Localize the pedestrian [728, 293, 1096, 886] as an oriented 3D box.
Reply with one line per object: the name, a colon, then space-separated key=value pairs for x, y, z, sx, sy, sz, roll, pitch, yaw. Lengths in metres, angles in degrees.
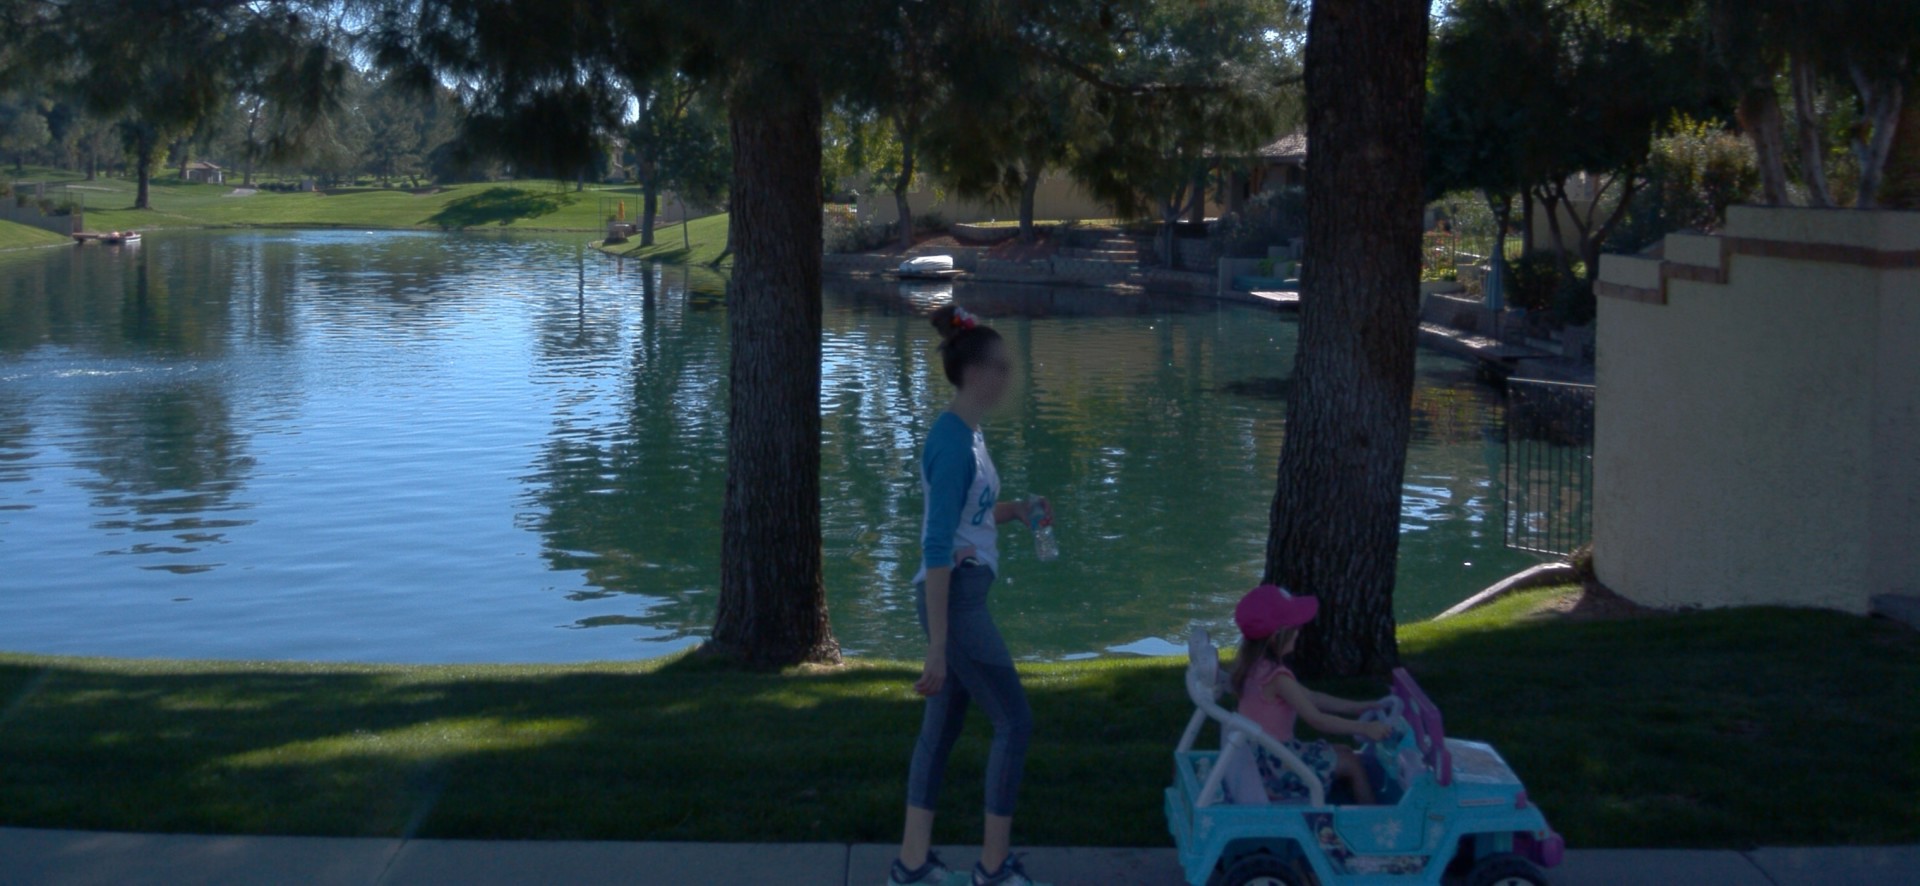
pedestrian: x=-0.130 y=0.471 z=6.006 sx=0.978 sy=1.779 sz=0.792 roll=0 pitch=1 yaw=-1

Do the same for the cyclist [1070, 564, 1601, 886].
cyclist: x=1.021 y=0.907 z=5.962 sx=1.319 sy=0.968 sz=0.951 roll=0 pitch=3 yaw=-3
